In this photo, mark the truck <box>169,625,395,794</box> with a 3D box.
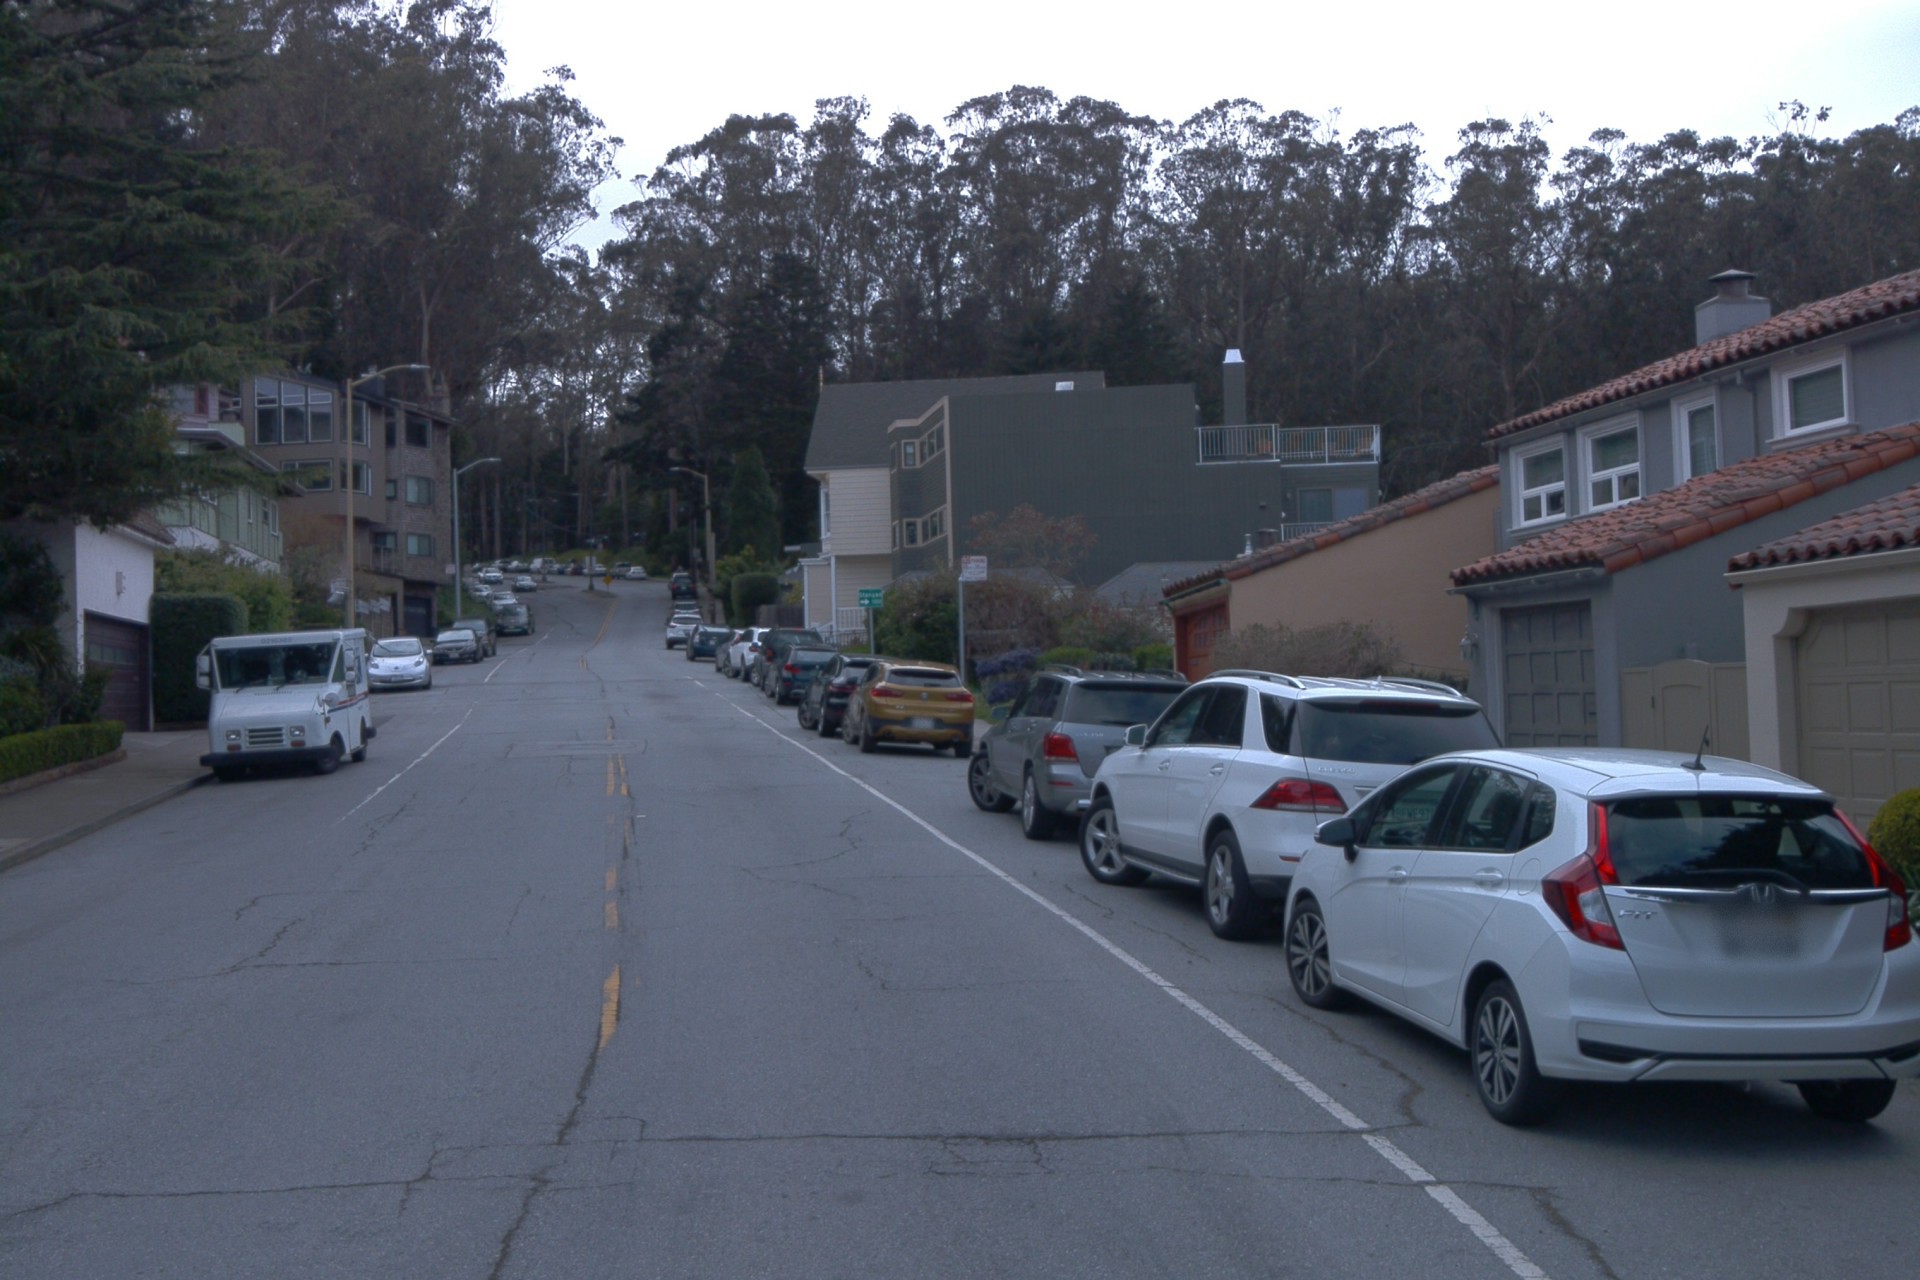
[{"bbox_3d":[-10.174,0.958,31.271,2.465,2.340,4.638,0,1,-8],"label":"truck"}]

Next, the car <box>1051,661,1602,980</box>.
[{"bbox_3d":[2.387,1.113,15.045,2.277,1.800,4.976,0,1,-12],"label":"car"}]

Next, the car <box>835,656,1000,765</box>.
[{"bbox_3d":[-0.798,1.118,34.552,2.195,1.600,4.512,0,1,-8],"label":"car"}]

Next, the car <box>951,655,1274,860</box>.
[{"bbox_3d":[1.399,1.086,21.182,2.239,1.750,4.795,0,1,-9],"label":"car"}]
